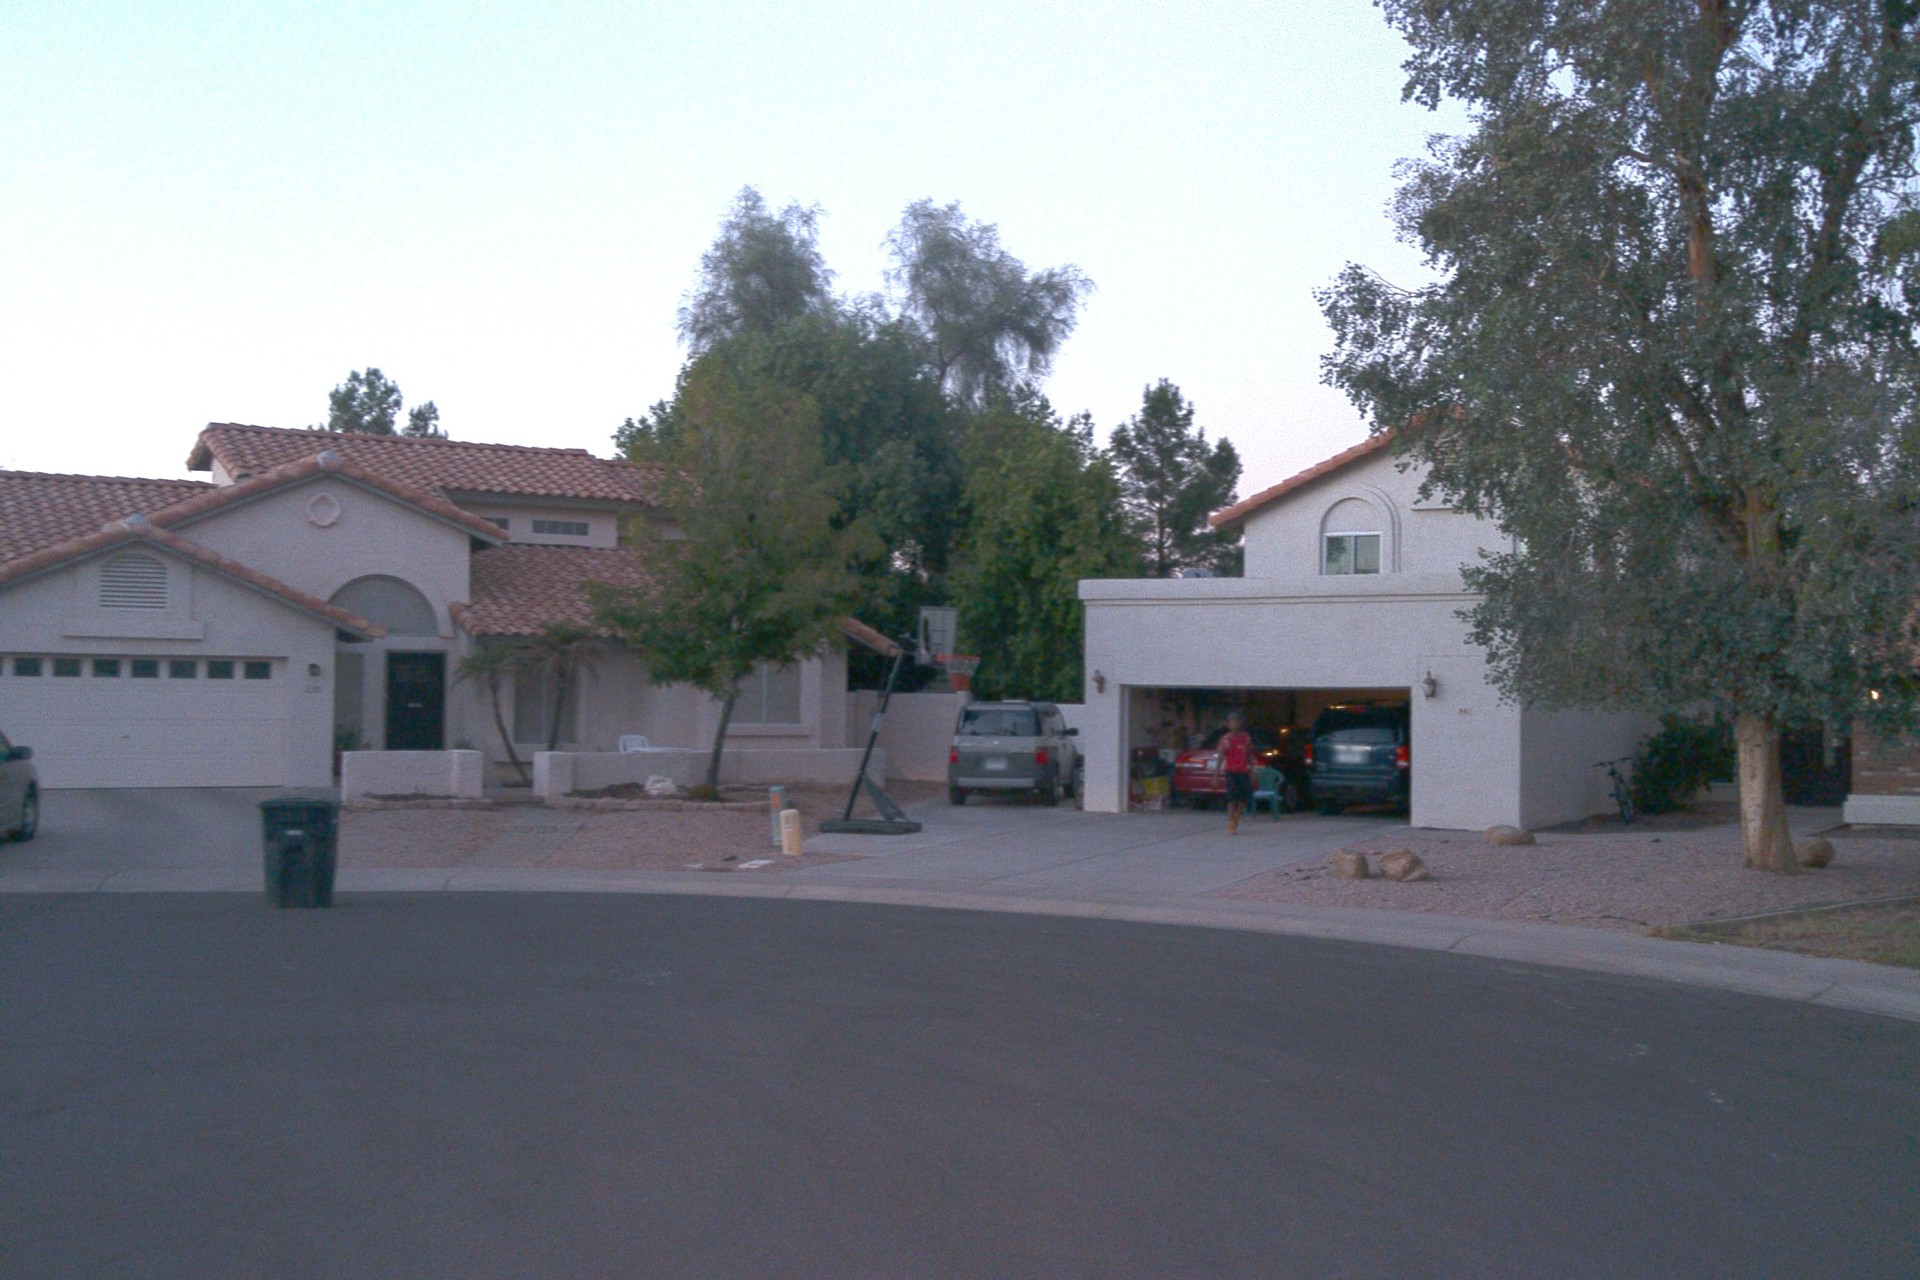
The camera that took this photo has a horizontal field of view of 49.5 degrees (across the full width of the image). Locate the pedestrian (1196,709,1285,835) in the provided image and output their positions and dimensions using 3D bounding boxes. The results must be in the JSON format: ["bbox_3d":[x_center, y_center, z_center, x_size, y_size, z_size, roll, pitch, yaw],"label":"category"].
[{"bbox_3d":[3.996,1.868,29.738,0.981,1.750,0.979,1,-2,-10],"label":"pedestrian"}]

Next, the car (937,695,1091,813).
[{"bbox_3d":[1.013,1.951,36.508,1.967,1.900,4.086,1,-2,12],"label":"car"}]

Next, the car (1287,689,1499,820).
[{"bbox_3d":[7.077,1.813,33.745,1.951,1.960,3.935,0,-2,35],"label":"car"}]

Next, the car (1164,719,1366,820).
[{"bbox_3d":[5.141,2.113,34.754,1.794,1.540,3.848,0,-2,34],"label":"car"}]
